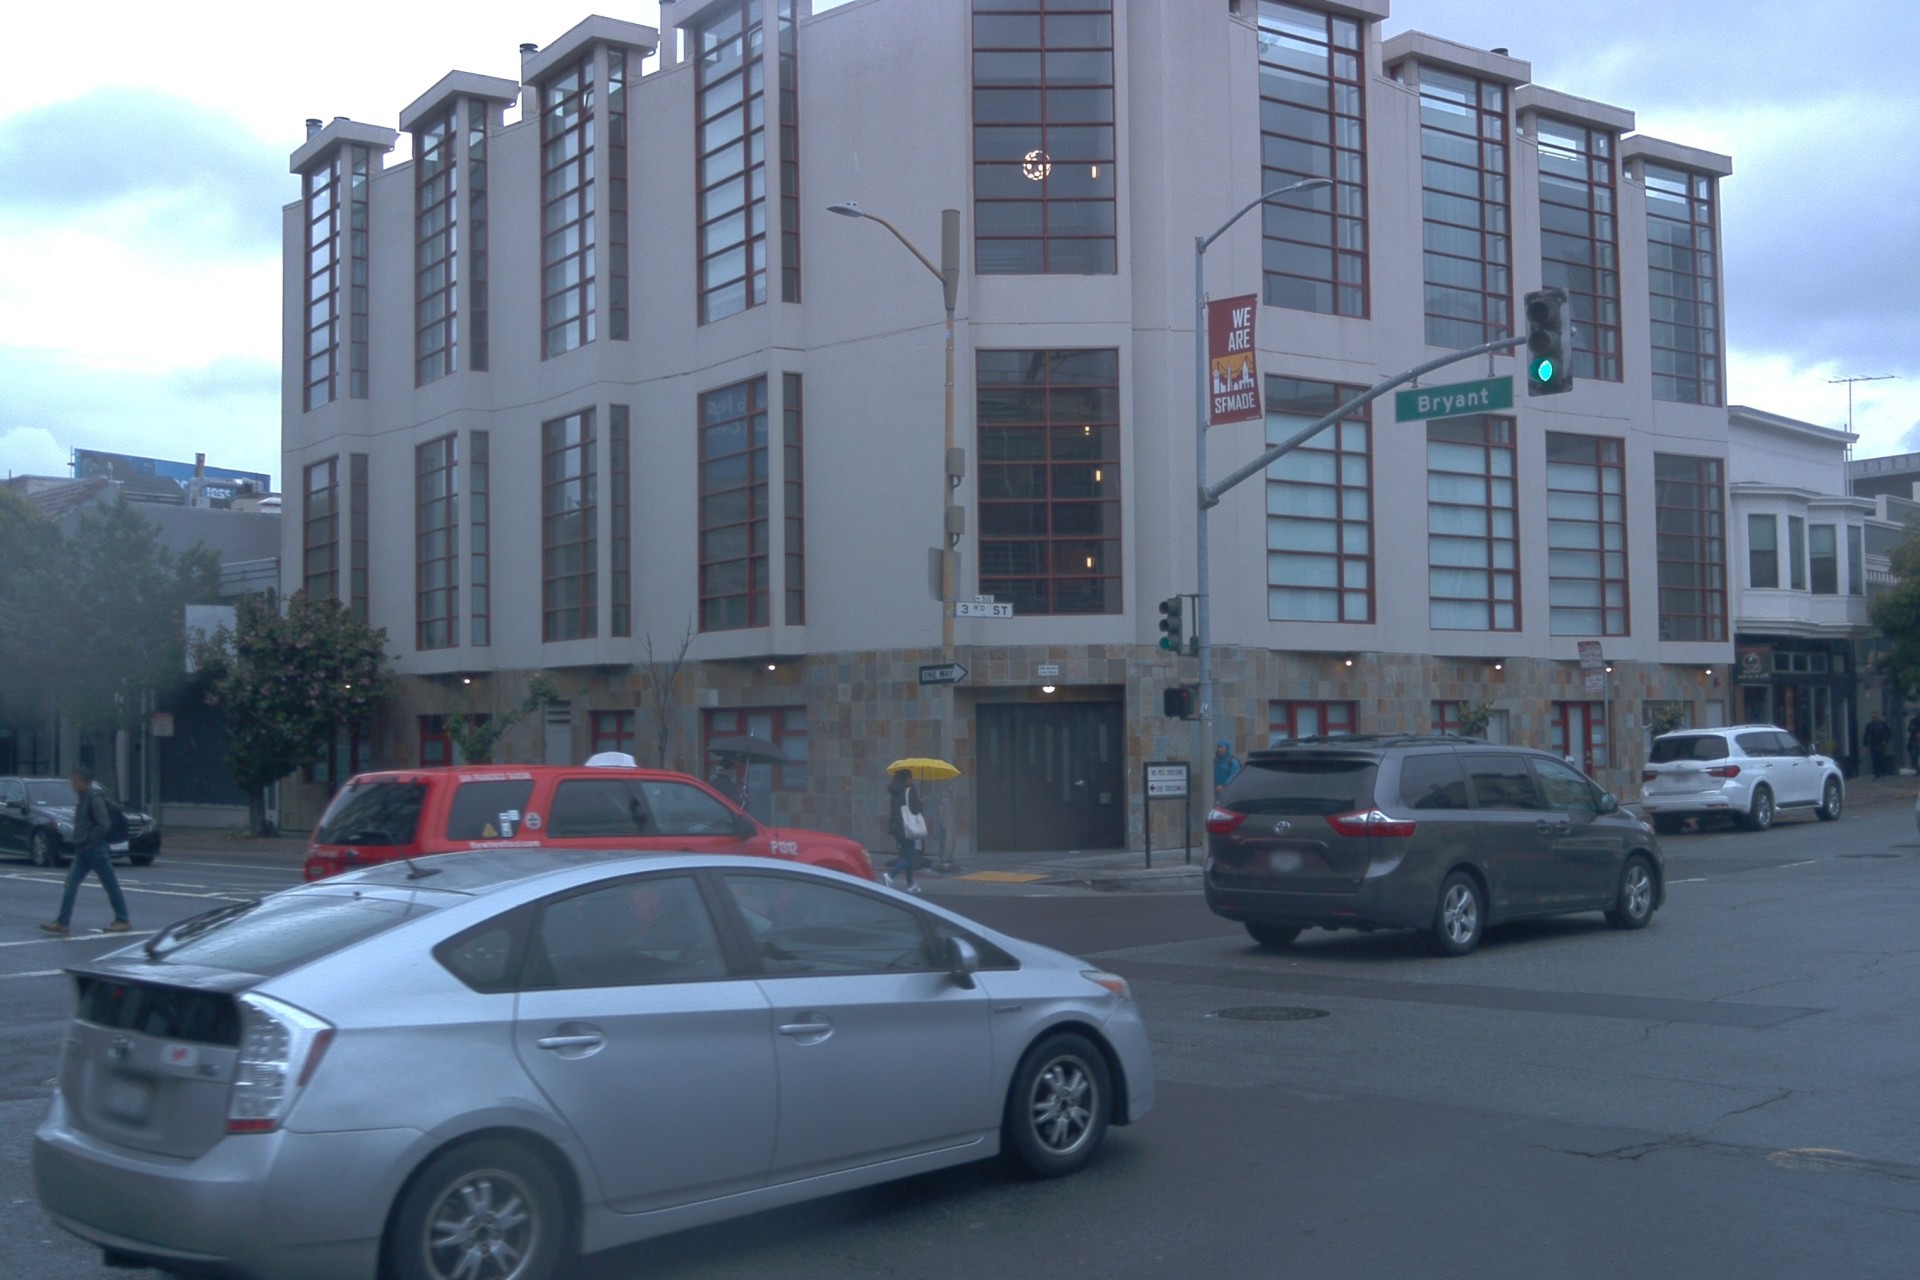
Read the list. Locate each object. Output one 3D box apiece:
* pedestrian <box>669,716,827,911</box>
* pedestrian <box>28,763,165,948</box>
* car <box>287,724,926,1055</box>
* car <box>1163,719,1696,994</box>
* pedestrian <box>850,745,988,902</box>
[{"bbox_3d":[-2.459,1.967,24.137,1.227,2.110,1.342,0,0,40],"label":"pedestrian"},{"bbox_3d":[-8.508,2.093,20.486,1.028,1.680,0.988,0,0,-38],"label":"pedestrian"},{"bbox_3d":[-2.562,1.723,15.910,2.023,1.980,4.501,0,0,43],"label":"car"},{"bbox_3d":[4.270,1.731,18.306,2.218,1.880,5.162,0,0,44],"label":"car"},{"bbox_3d":[-0.525,2.313,26.642,1.137,1.860,1.362,0,0,44],"label":"pedestrian"}]
